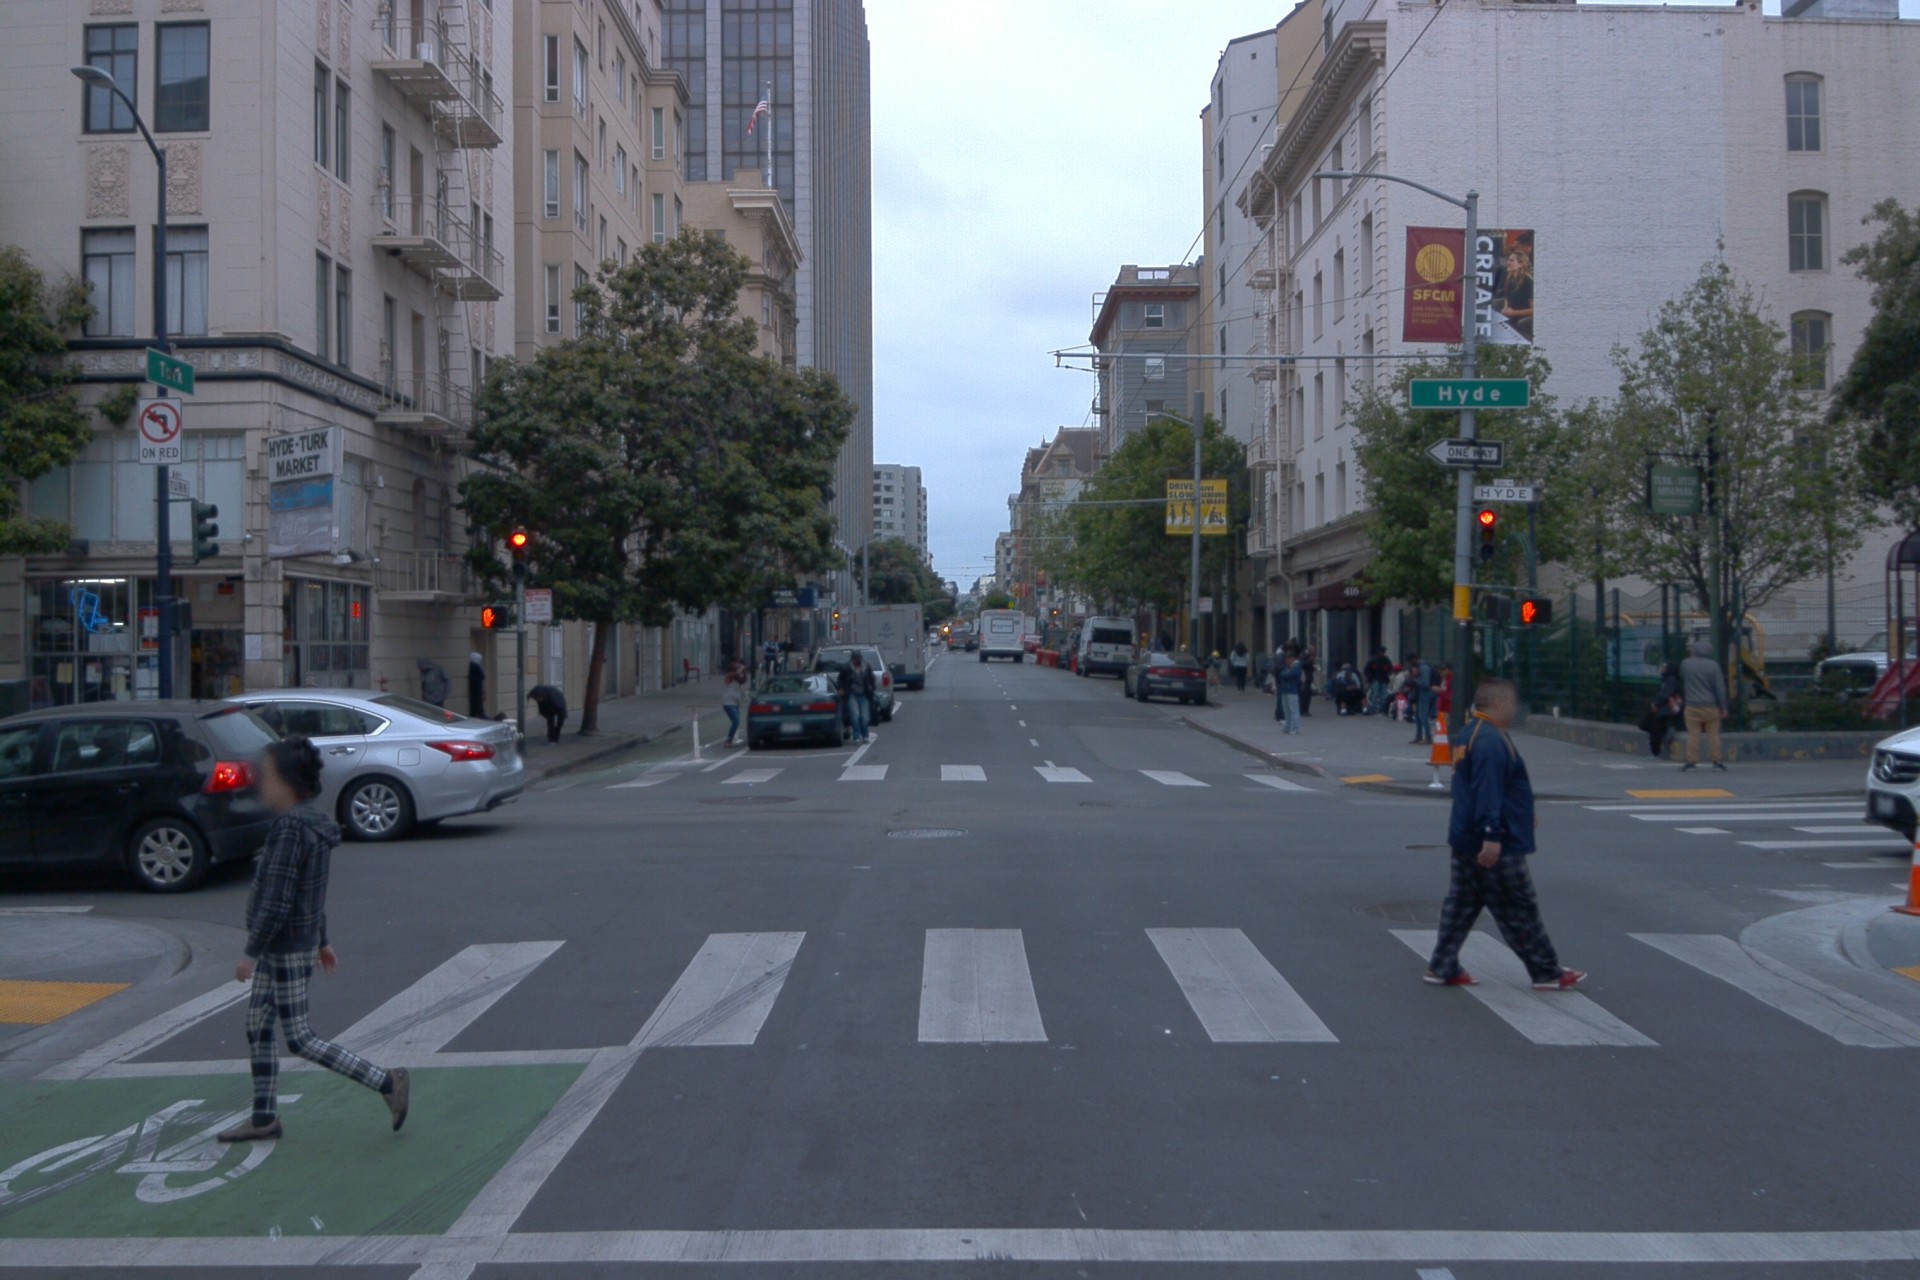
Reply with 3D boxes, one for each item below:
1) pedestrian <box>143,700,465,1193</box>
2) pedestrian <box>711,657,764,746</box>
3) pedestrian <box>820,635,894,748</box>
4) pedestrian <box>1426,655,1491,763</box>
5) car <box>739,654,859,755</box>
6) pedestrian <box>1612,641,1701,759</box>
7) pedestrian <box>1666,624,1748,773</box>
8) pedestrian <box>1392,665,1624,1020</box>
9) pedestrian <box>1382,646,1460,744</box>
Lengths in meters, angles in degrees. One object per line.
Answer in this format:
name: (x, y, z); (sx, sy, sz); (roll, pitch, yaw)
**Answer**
pedestrian: (-2.551, 1.146, 8.144); (1.093, 1.760, 0.988); (0, 1, -11)
pedestrian: (-4.060, 1.112, 37.505); (0.695, 1.580, 0.680); (-1, 1, -37)
pedestrian: (-1.867, 0.912, 36.983); (1.256, 1.990, 1.099); (0, 1, -6)
pedestrian: (7.709, 1.054, 31.845); (0.906, 1.620, 0.868); (0, 1, 9)
car: (-2.863, 1.123, 37.324); (1.721, 1.630, 3.892); (0, 1, 2)
pedestrian: (10.487, 0.890, 30.965); (0.965, 1.720, 0.943); (1, 1, 44)
pedestrian: (10.298, 0.788, 28.349); (0.836, 2.010, 0.794); (1, 1, 39)
pedestrian: (2.910, 1.046, 11.023); (1.036, 1.800, 0.907); (0, 1, 3)
pedestrian: (8.315, 0.980, 37.110); (0.930, 1.710, 1.050); (-1, 1, -21)
